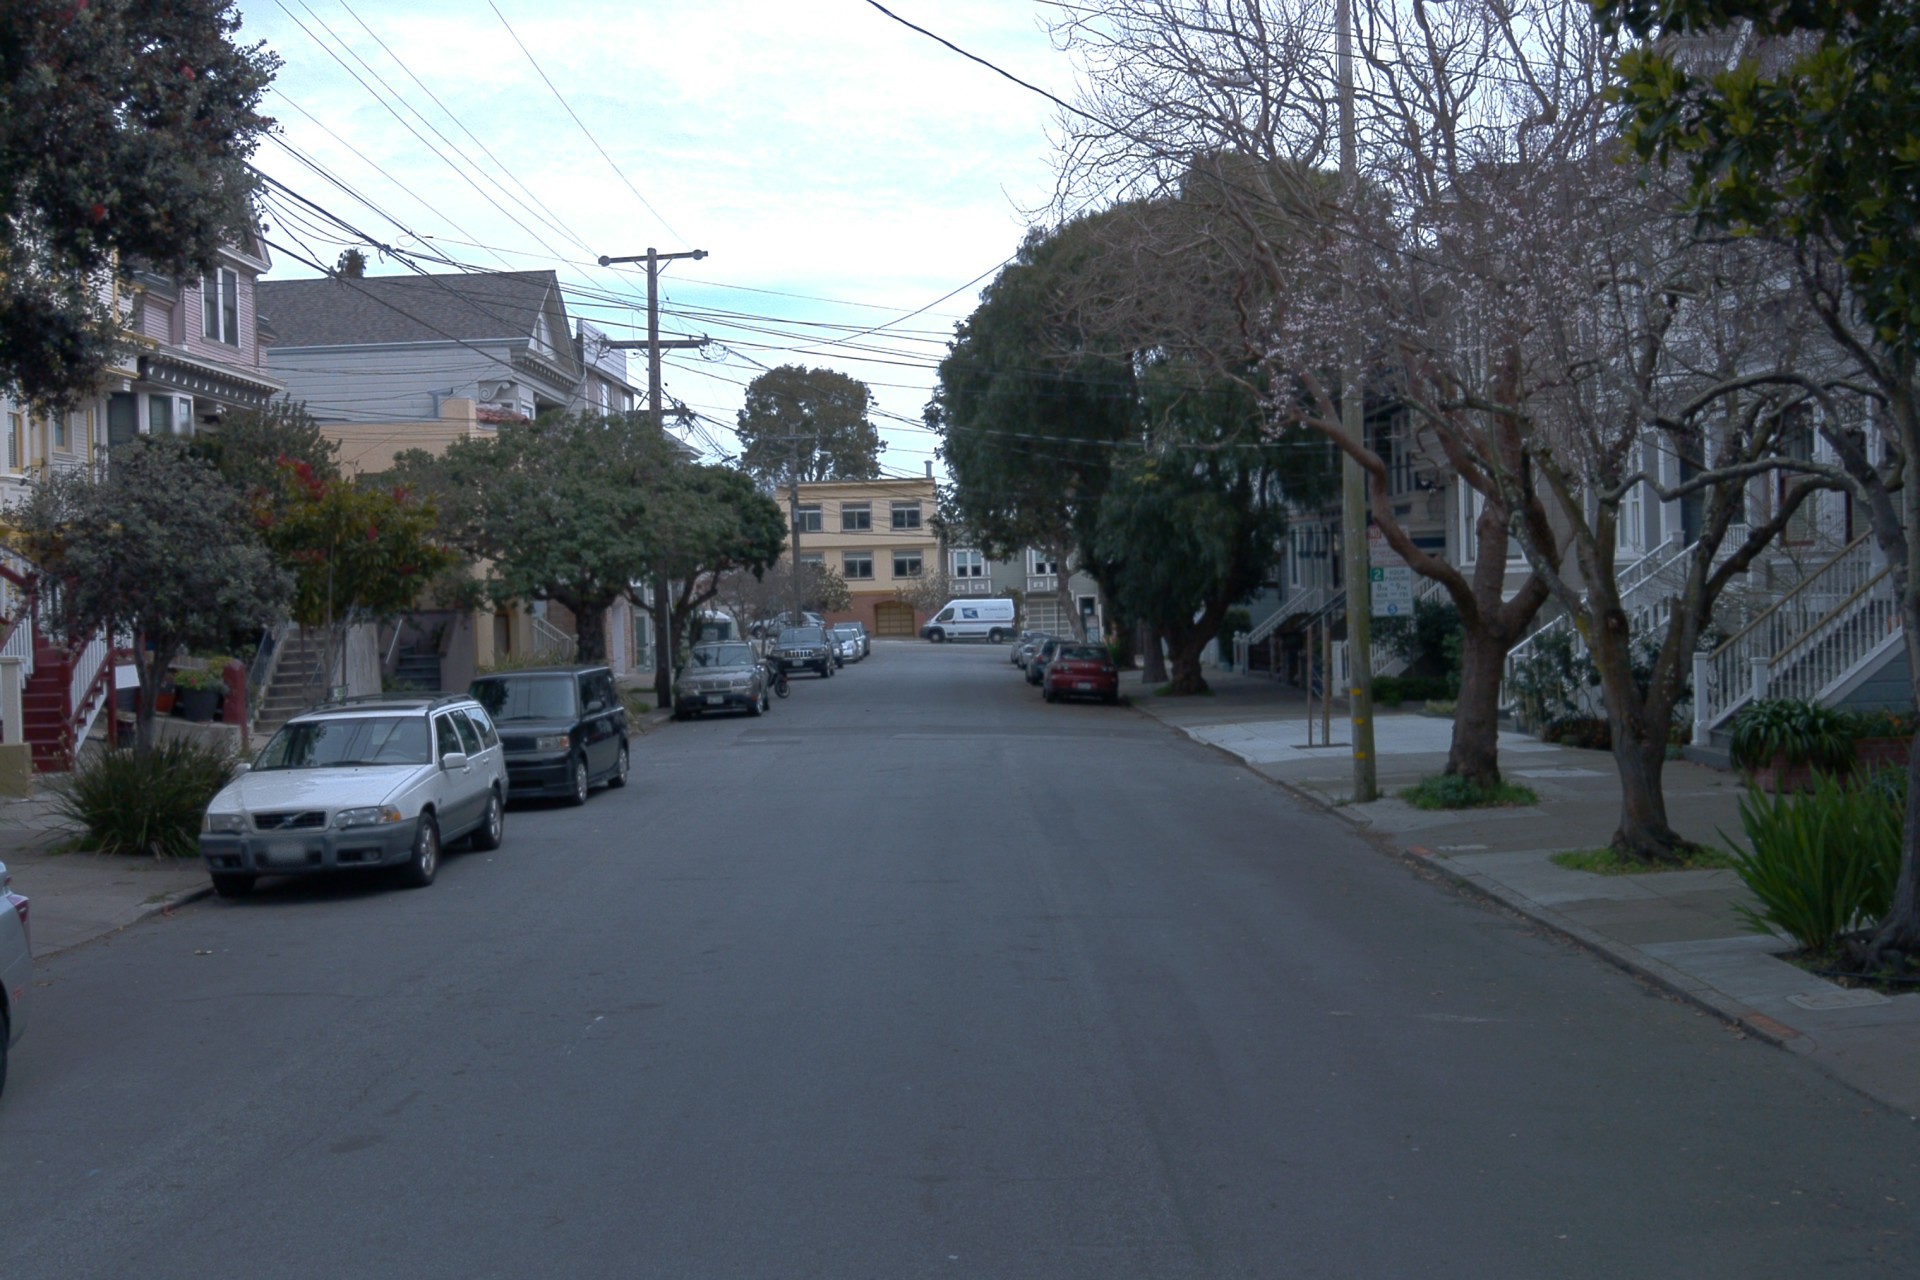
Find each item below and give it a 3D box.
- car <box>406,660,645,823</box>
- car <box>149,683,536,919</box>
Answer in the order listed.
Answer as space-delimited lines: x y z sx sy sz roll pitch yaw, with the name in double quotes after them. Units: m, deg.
-5.156 1.154 25.052 1.957 1.700 3.955 1 1 2 "car"
-5.181 1.275 18.079 2.020 1.610 4.746 1 1 -1 "car"
